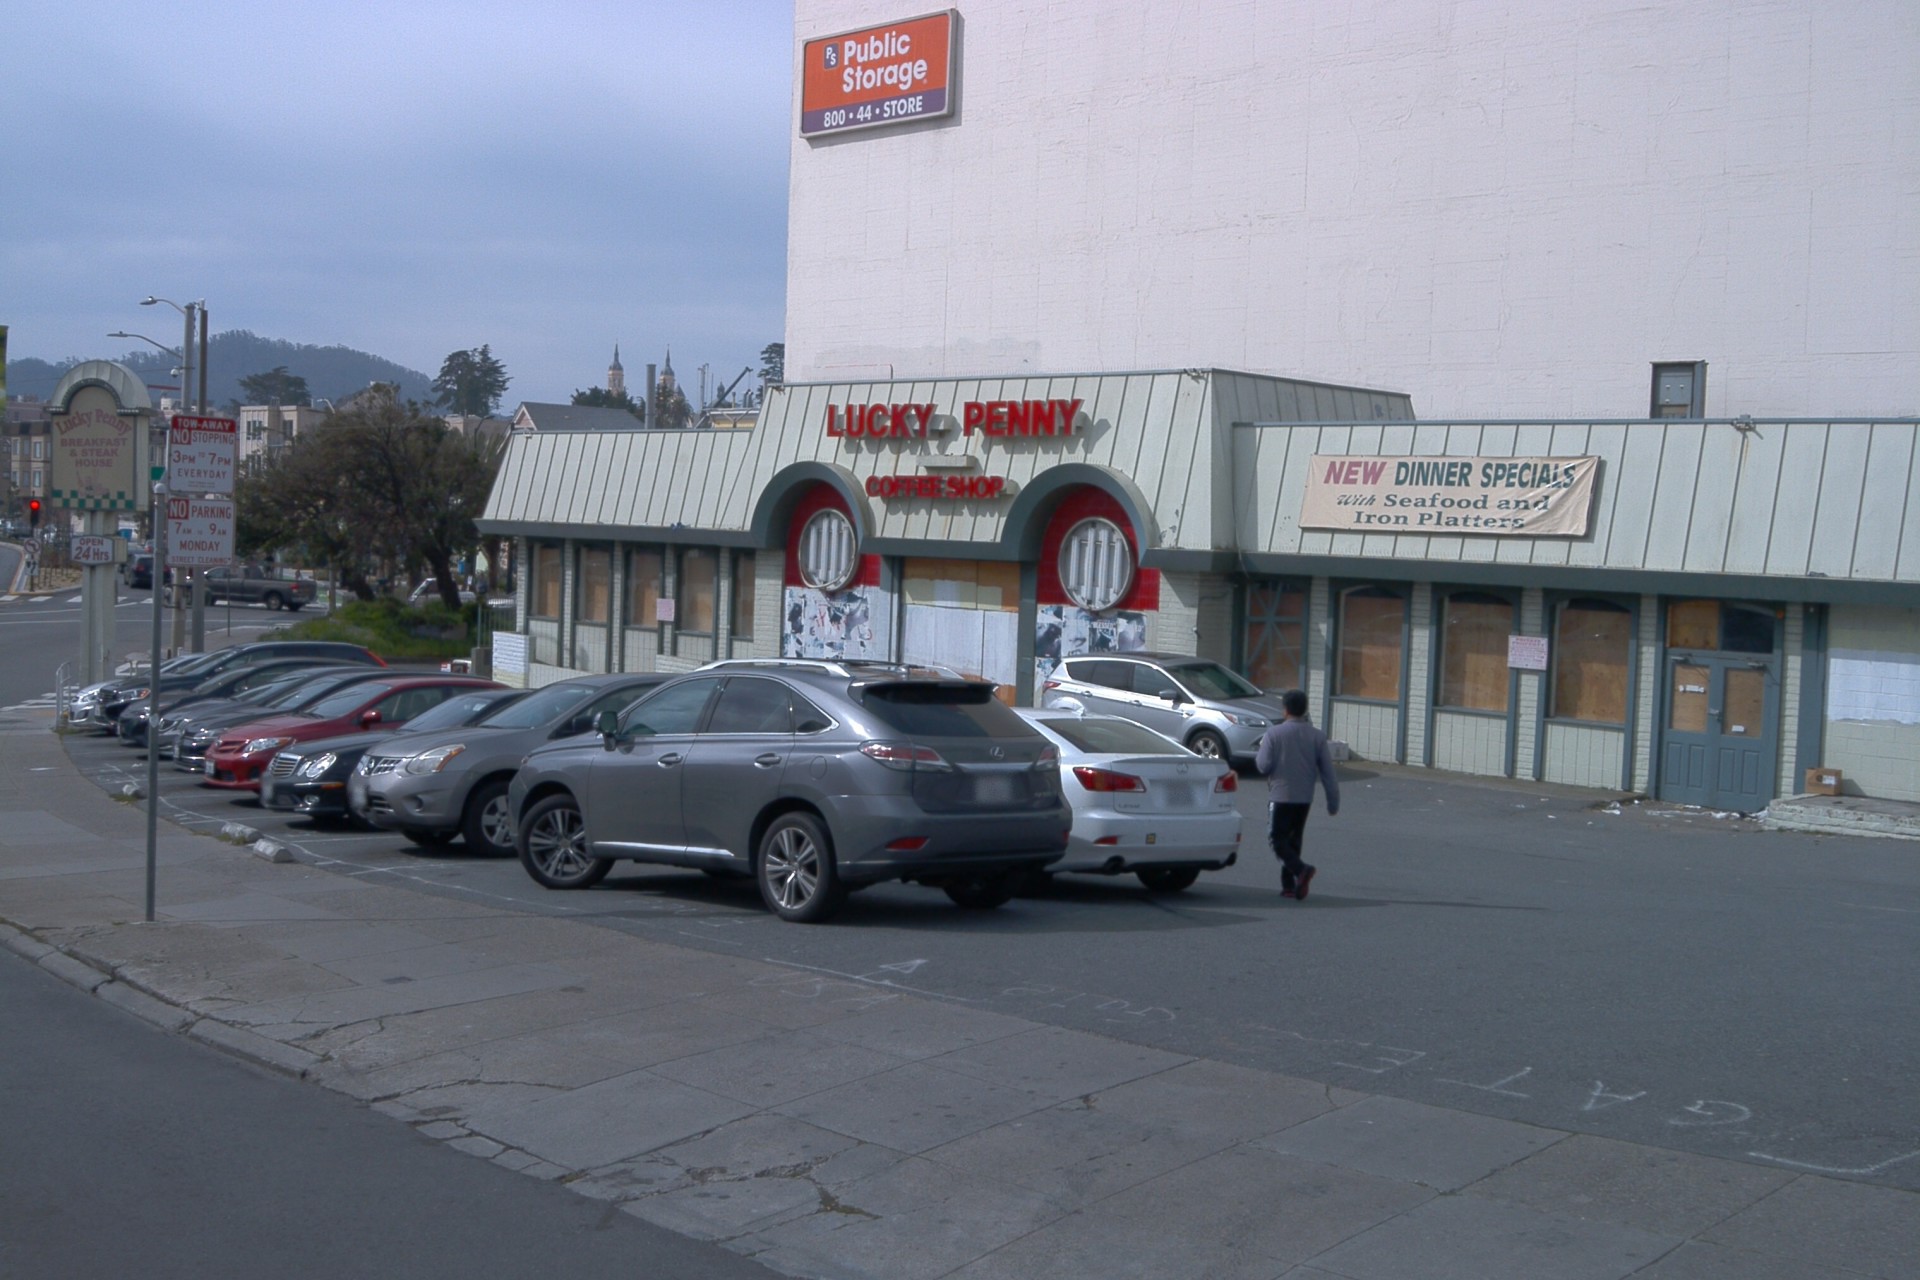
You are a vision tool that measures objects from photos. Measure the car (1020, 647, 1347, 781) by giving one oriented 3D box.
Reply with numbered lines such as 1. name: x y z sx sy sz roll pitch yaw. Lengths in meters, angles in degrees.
1. car: 3.289 1.034 30.718 2.134 1.790 4.557 0 0 -44

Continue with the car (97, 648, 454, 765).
1. car: -10.337 0.949 31.104 4.651 1.610 2.192 0 0 -43

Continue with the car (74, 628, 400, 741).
1. car: -11.717 0.682 33.335 4.561 1.710 2.059 0 0 -43

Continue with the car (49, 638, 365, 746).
1. car: -13.134 0.863 35.853 4.757 1.740 2.072 0 0 -43

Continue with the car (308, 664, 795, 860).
1. car: -3.715 1.032 19.045 1.975 1.570 4.019 1 0 44

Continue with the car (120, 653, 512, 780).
1. car: -8.982 1.003 28.781 4.736 1.590 2.241 0 0 -44

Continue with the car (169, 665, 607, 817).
1. car: -6.657 1.104 24.116 4.484 1.550 2.134 0 0 -44

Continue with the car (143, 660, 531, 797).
1. car: -7.973 1.070 26.409 4.343 1.580 1.994 0 0 -43

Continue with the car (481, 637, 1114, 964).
1. car: -1.292 0.965 14.599 2.065 1.920 4.493 0 0 -45

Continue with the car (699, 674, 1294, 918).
1. car: 0.159 1.129 16.691 2.088 1.580 4.738 0 0 -44

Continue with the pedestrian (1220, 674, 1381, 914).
1. pedestrian: 2.590 1.150 15.677 0.943 1.744 1.076 0 0 -6

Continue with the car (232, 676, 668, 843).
1. car: -5.265 1.164 21.426 4.029 1.500 1.869 0 0 -45
